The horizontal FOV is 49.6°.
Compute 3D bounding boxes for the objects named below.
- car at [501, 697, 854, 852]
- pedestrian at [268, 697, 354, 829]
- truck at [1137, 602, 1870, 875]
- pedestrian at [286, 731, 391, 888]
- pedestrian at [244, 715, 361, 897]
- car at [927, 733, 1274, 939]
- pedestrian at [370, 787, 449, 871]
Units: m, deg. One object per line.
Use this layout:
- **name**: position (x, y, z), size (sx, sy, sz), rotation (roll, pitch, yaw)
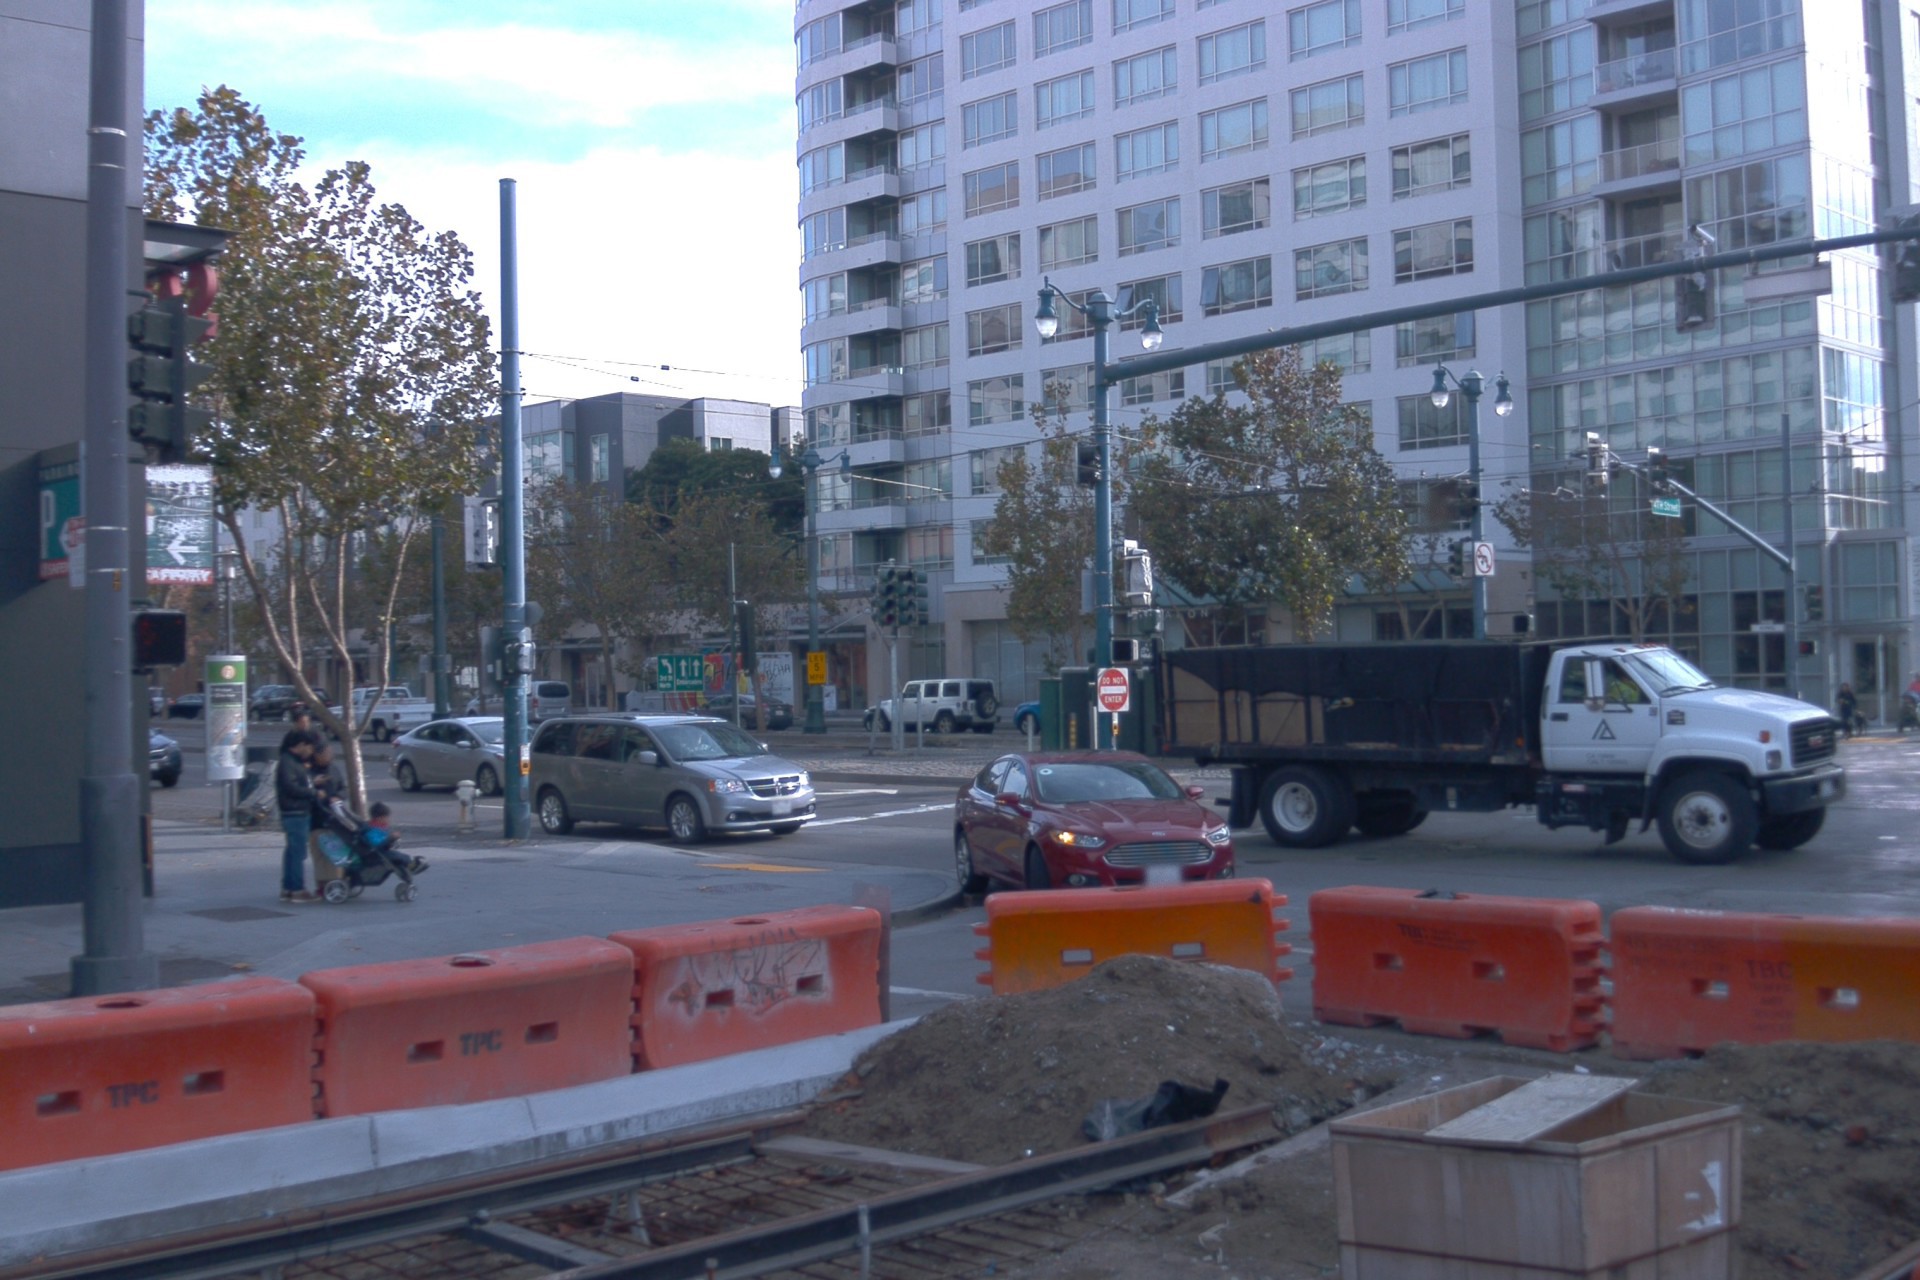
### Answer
- **car**: position (-4.140, 1.834, 29.815), size (5.242, 1.897, 2.282), rotation (0, -1, 45)
- **pedestrian**: position (-9.331, 1.751, 29.868), size (0.982, 1.830, 0.941), rotation (1, -1, -30)
- **truck**: position (6.293, 1.019, 25.144), size (8.088, 2.794, 3.056), rotation (0, -1, 42)
- **pedestrian**: position (-6.059, 1.635, 20.266), size (0.723, 1.460, 0.660), rotation (0, -1, 31)
- **pedestrian**: position (-6.291, 1.569, 19.884), size (0.748, 1.660, 0.767), rotation (0, -1, 38)
- **car**: position (1.230, 1.835, 20.782), size (2.118, 1.605, 4.842), rotation (0, 0, -13)
- **pedestrian**: position (-5.306, 1.816, 20.018), size (0.723, 0.752, 0.485), rotation (0, -1, -15)
